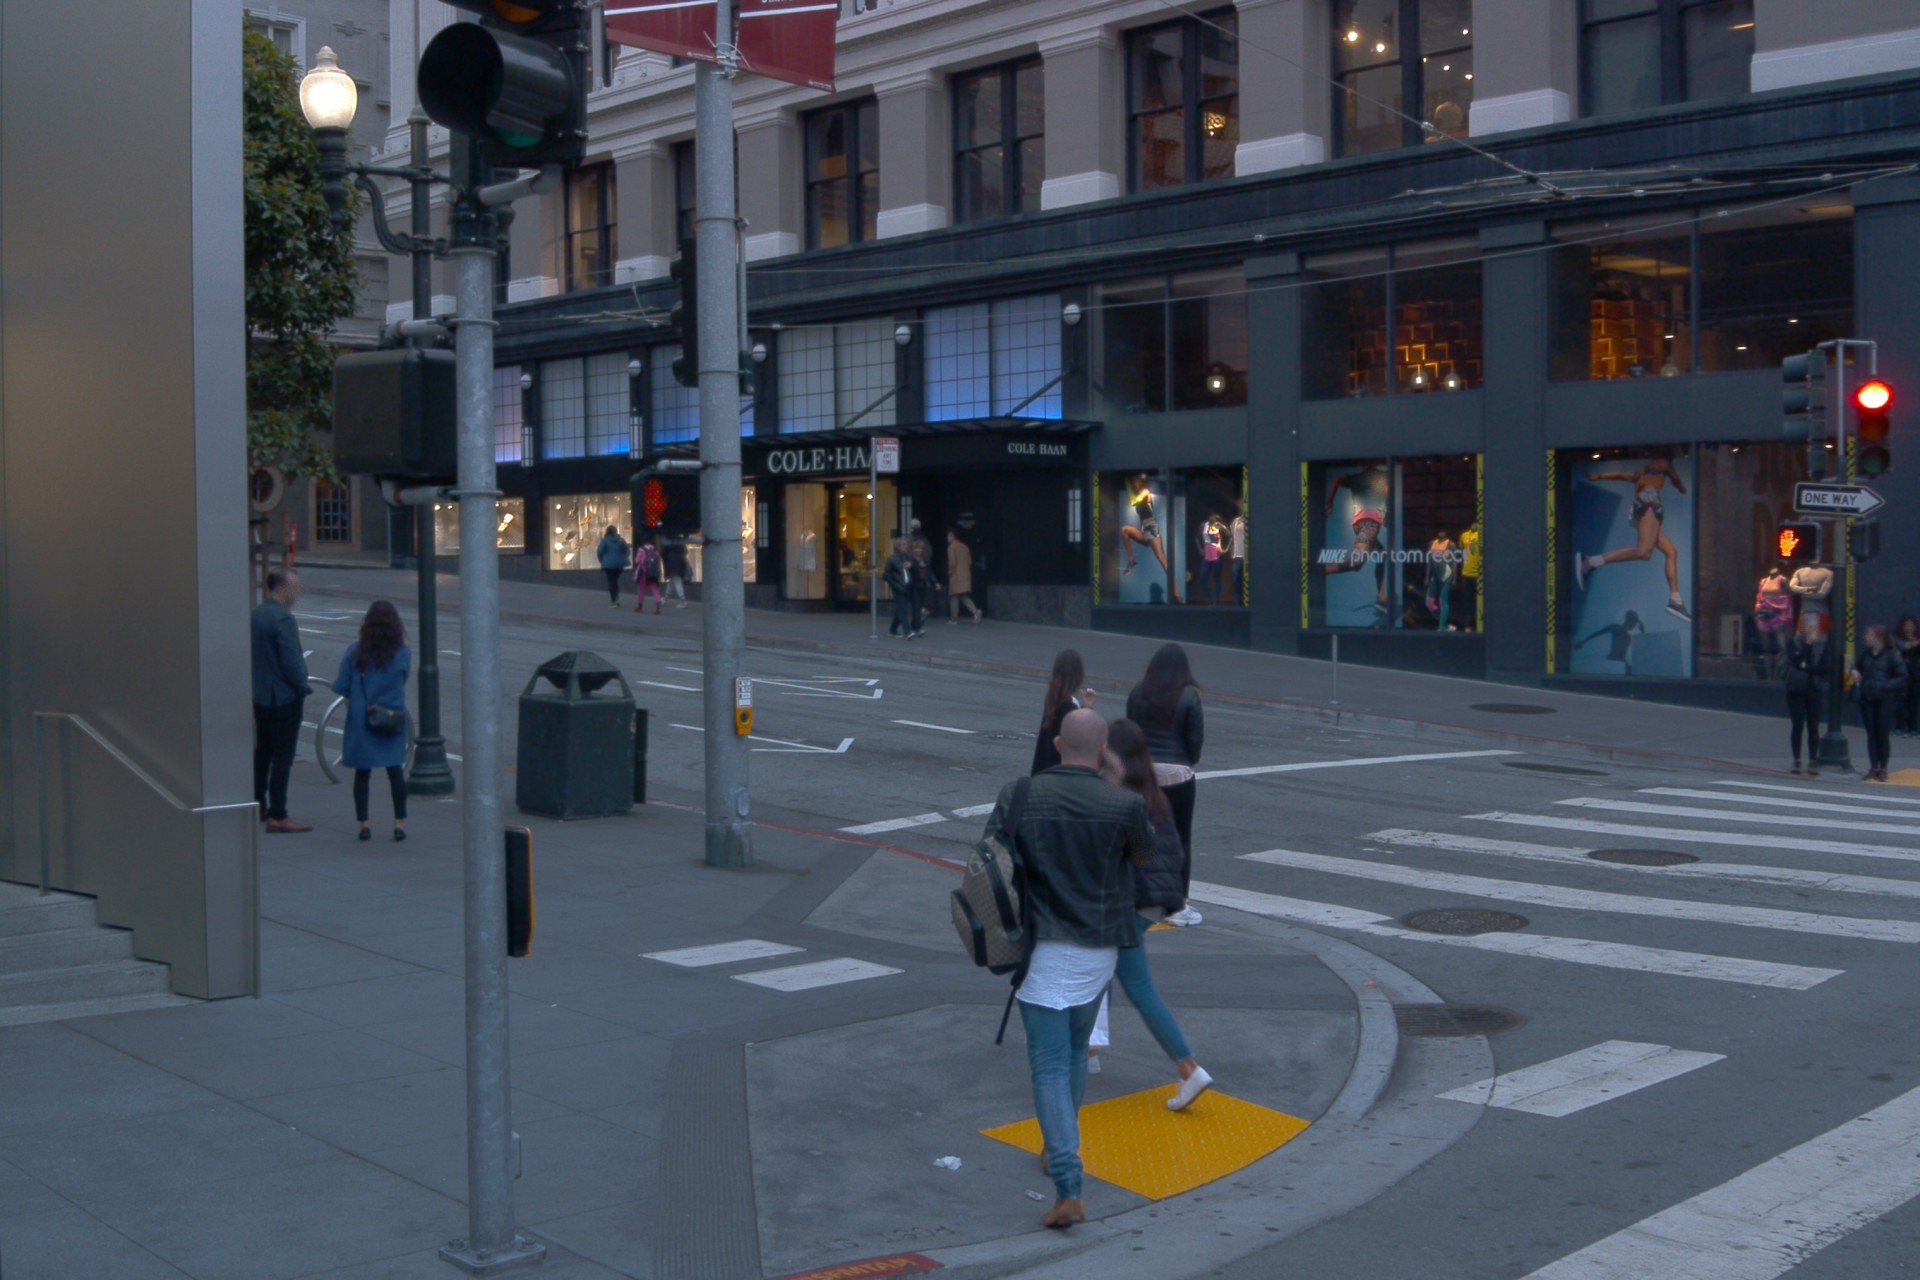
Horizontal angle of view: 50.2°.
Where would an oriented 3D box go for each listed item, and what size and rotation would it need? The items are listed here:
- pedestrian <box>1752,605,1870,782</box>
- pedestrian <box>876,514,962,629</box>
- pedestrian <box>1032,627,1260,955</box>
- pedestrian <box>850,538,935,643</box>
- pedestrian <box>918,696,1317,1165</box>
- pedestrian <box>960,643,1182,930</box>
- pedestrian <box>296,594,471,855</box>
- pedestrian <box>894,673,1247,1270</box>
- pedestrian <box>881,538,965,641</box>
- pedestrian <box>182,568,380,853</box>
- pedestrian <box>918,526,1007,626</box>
[{"bbox_3d":[8.945,0.537,21.527,0.895,1.800,1.088,1,1,36],"label":"pedestrian"},{"bbox_3d":[-0.705,-1.159,34.946,0.963,1.920,1.104,0,1,-43],"label":"pedestrian"},{"bbox_3d":[1.128,0.870,12.472,1.113,1.890,0.813,0,1,-31],"label":"pedestrian"},{"bbox_3d":[-1.082,-0.793,32.884,0.891,1.650,1.047,-1,1,-44],"label":"pedestrian"},{"bbox_3d":[0.639,1.081,8.262,1.097,1.640,1.174,1,1,44],"label":"pedestrian"},{"bbox_3d":[0.703,0.889,13.084,1.003,1.710,0.997,0,1,-37],"label":"pedestrian"},{"bbox_3d":[-4.042,0.558,14.360,0.951,1.750,0.801,0,1,-37],"label":"pedestrian"},{"bbox_3d":[0.339,1.040,7.017,0.929,1.820,1.124,0,1,-13],"label":"pedestrian"},{"bbox_3d":[-0.605,-0.814,33.342,0.891,1.650,1.047,-1,1,-44],"label":"pedestrian"},{"bbox_3d":[-4.886,0.476,14.766,0.981,1.960,0.939,1,1,32],"label":"pedestrian"},{"bbox_3d":[0.045,-1.091,35.298,1.053,1.700,1.108,-1,1,-45],"label":"pedestrian"}]
